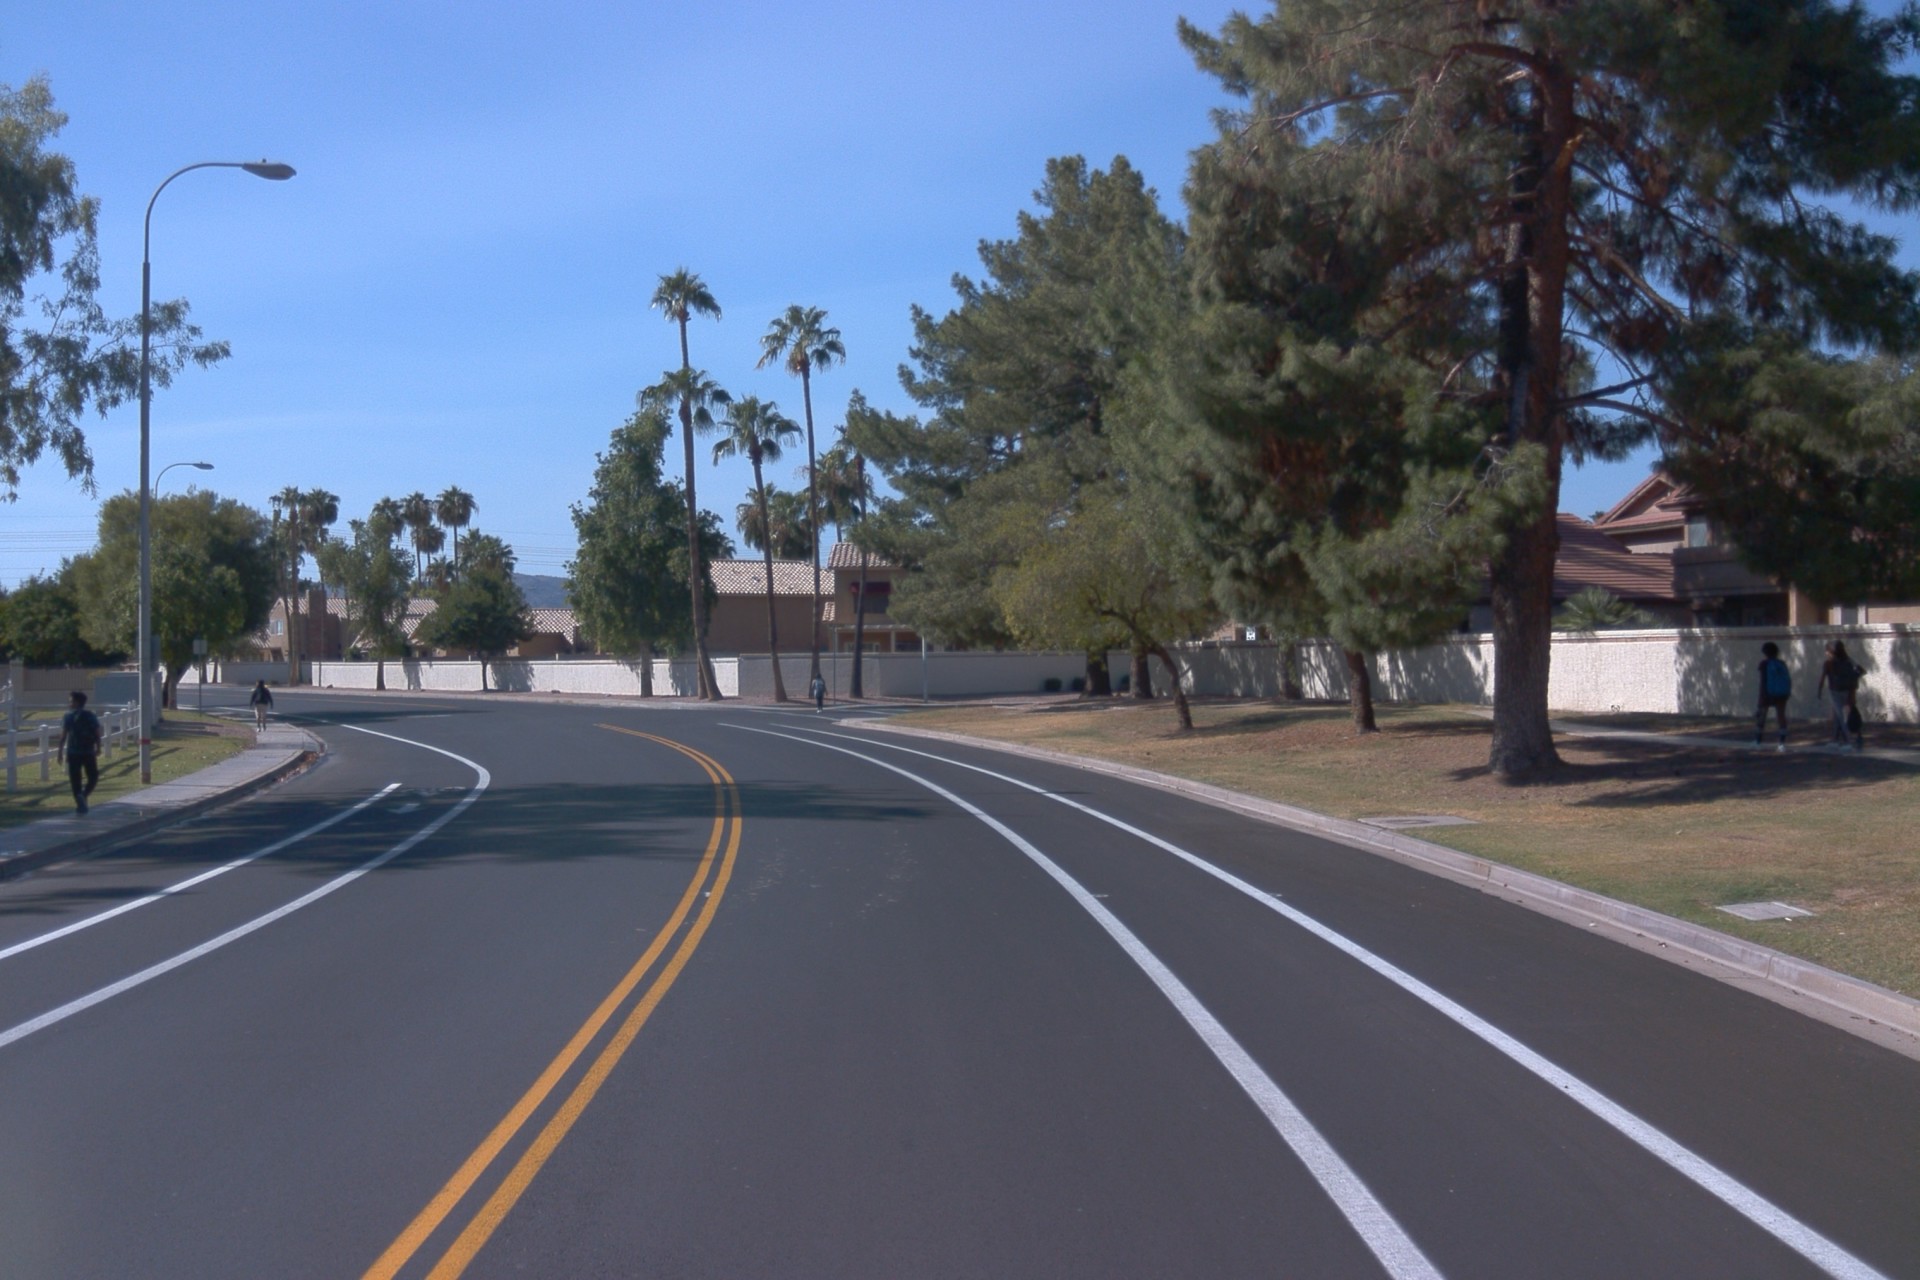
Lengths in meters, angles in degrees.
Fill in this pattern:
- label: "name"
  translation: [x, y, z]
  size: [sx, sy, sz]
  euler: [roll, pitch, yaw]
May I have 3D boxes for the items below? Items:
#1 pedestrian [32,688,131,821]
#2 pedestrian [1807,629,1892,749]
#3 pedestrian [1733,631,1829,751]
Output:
- label: "pedestrian"
  translation: [-11.970, 1.551, 28.469]
  size: [0.990, 1.760, 1.026]
  euler: [1, 0, -7]
- label: "pedestrian"
  translation: [12.484, 0.686, 29.324]
  size: [0.663, 1.656, 0.983]
  euler: [1, 0, -8]
- label: "pedestrian"
  translation: [11.642, 0.717, 29.625]
  size: [0.802, 1.662, 1.051]
  euler: [1, 0, -11]
